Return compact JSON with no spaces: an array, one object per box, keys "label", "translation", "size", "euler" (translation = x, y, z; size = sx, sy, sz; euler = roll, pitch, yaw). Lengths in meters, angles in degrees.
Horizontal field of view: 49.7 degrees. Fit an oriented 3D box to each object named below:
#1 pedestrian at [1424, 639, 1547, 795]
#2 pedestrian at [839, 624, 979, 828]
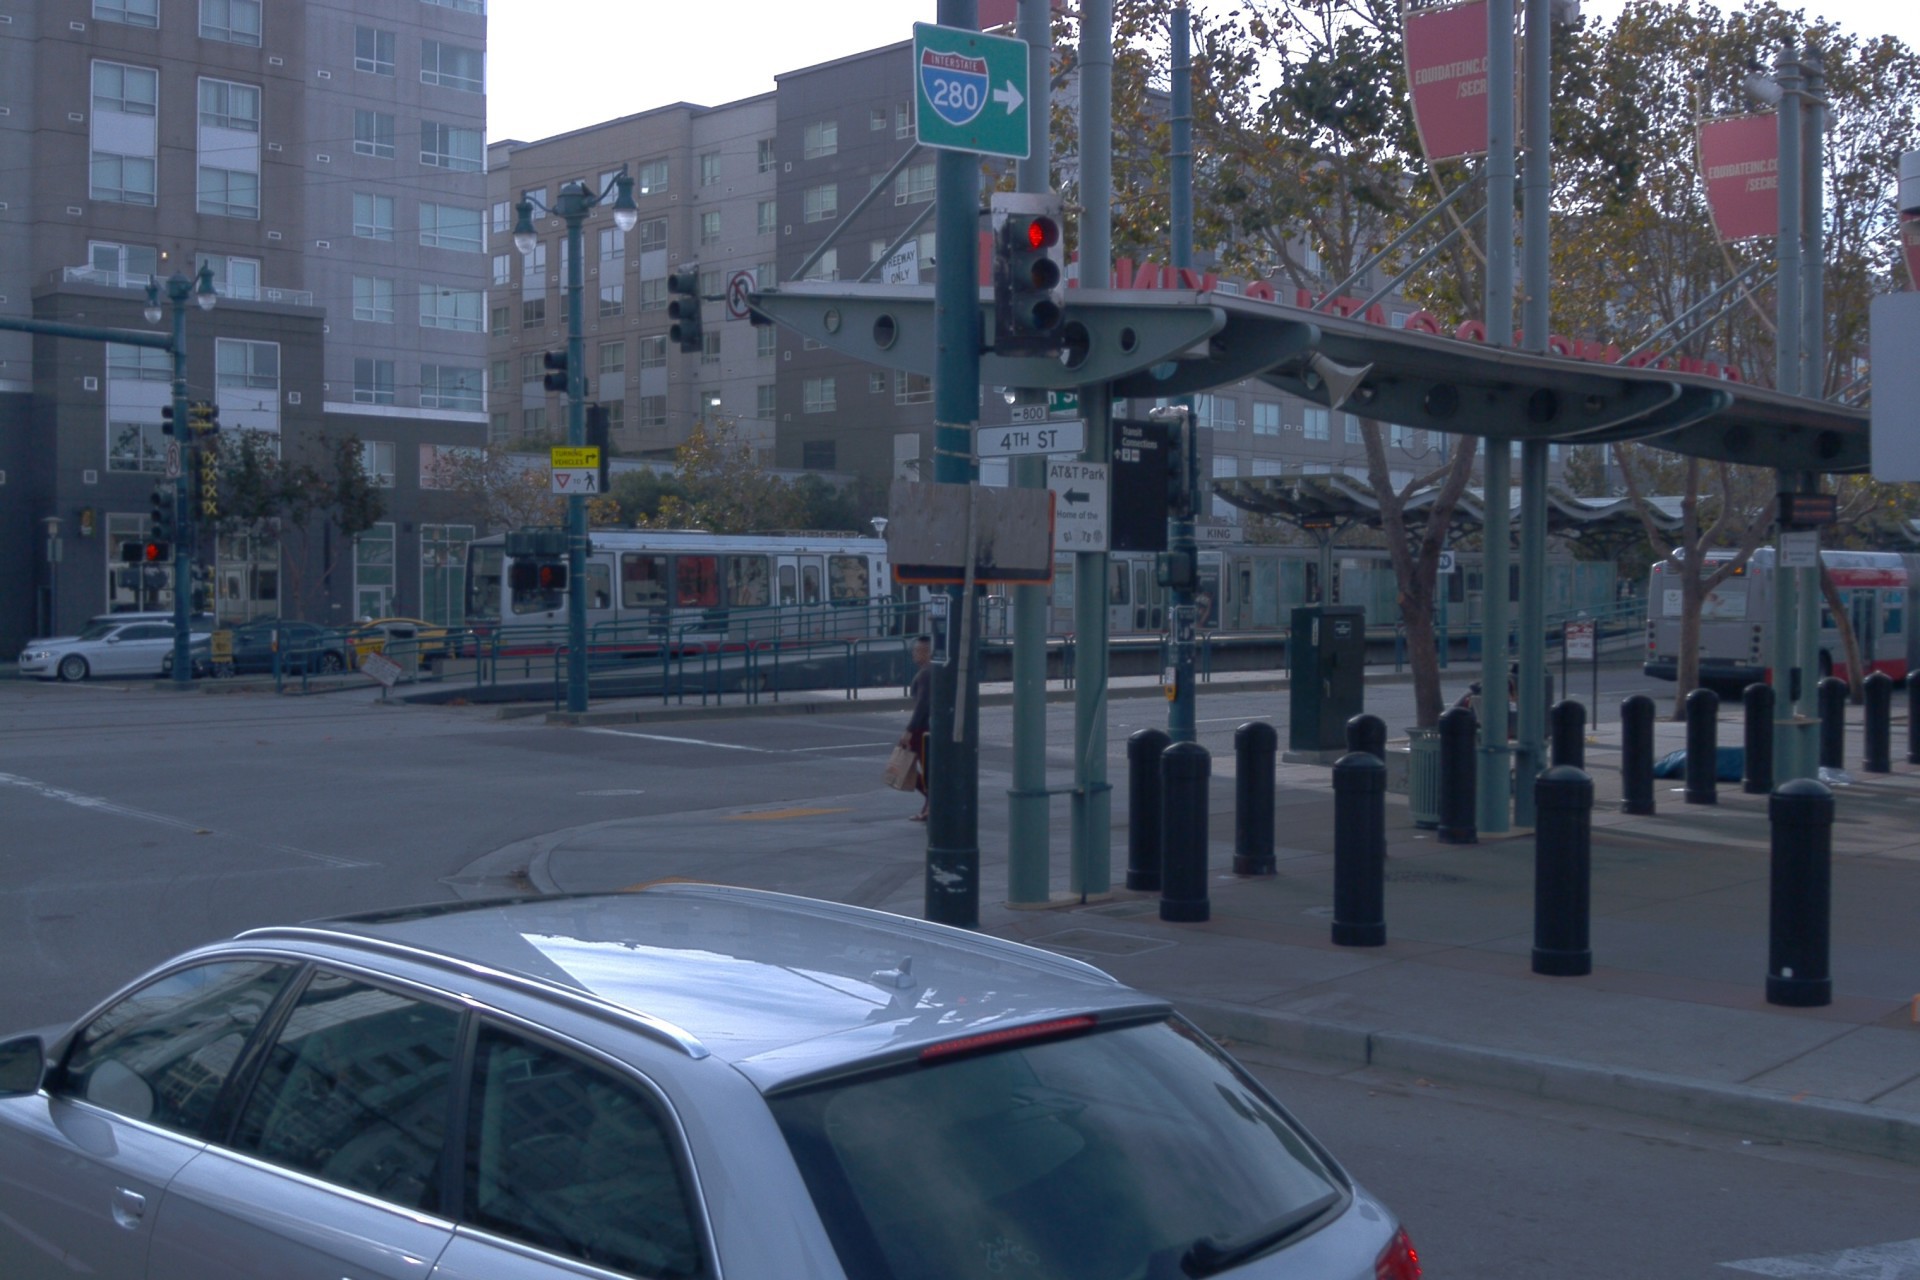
[{"label":"pedestrian","translation":[5.633,0.807,22.287],"size":[1.218,1.605,1.169],"euler":[1,0,12]},{"label":"pedestrian","translation":[-0.462,0.769,19.139],"size":[0.980,1.819,0.928],"euler":[1,0,21]}]
